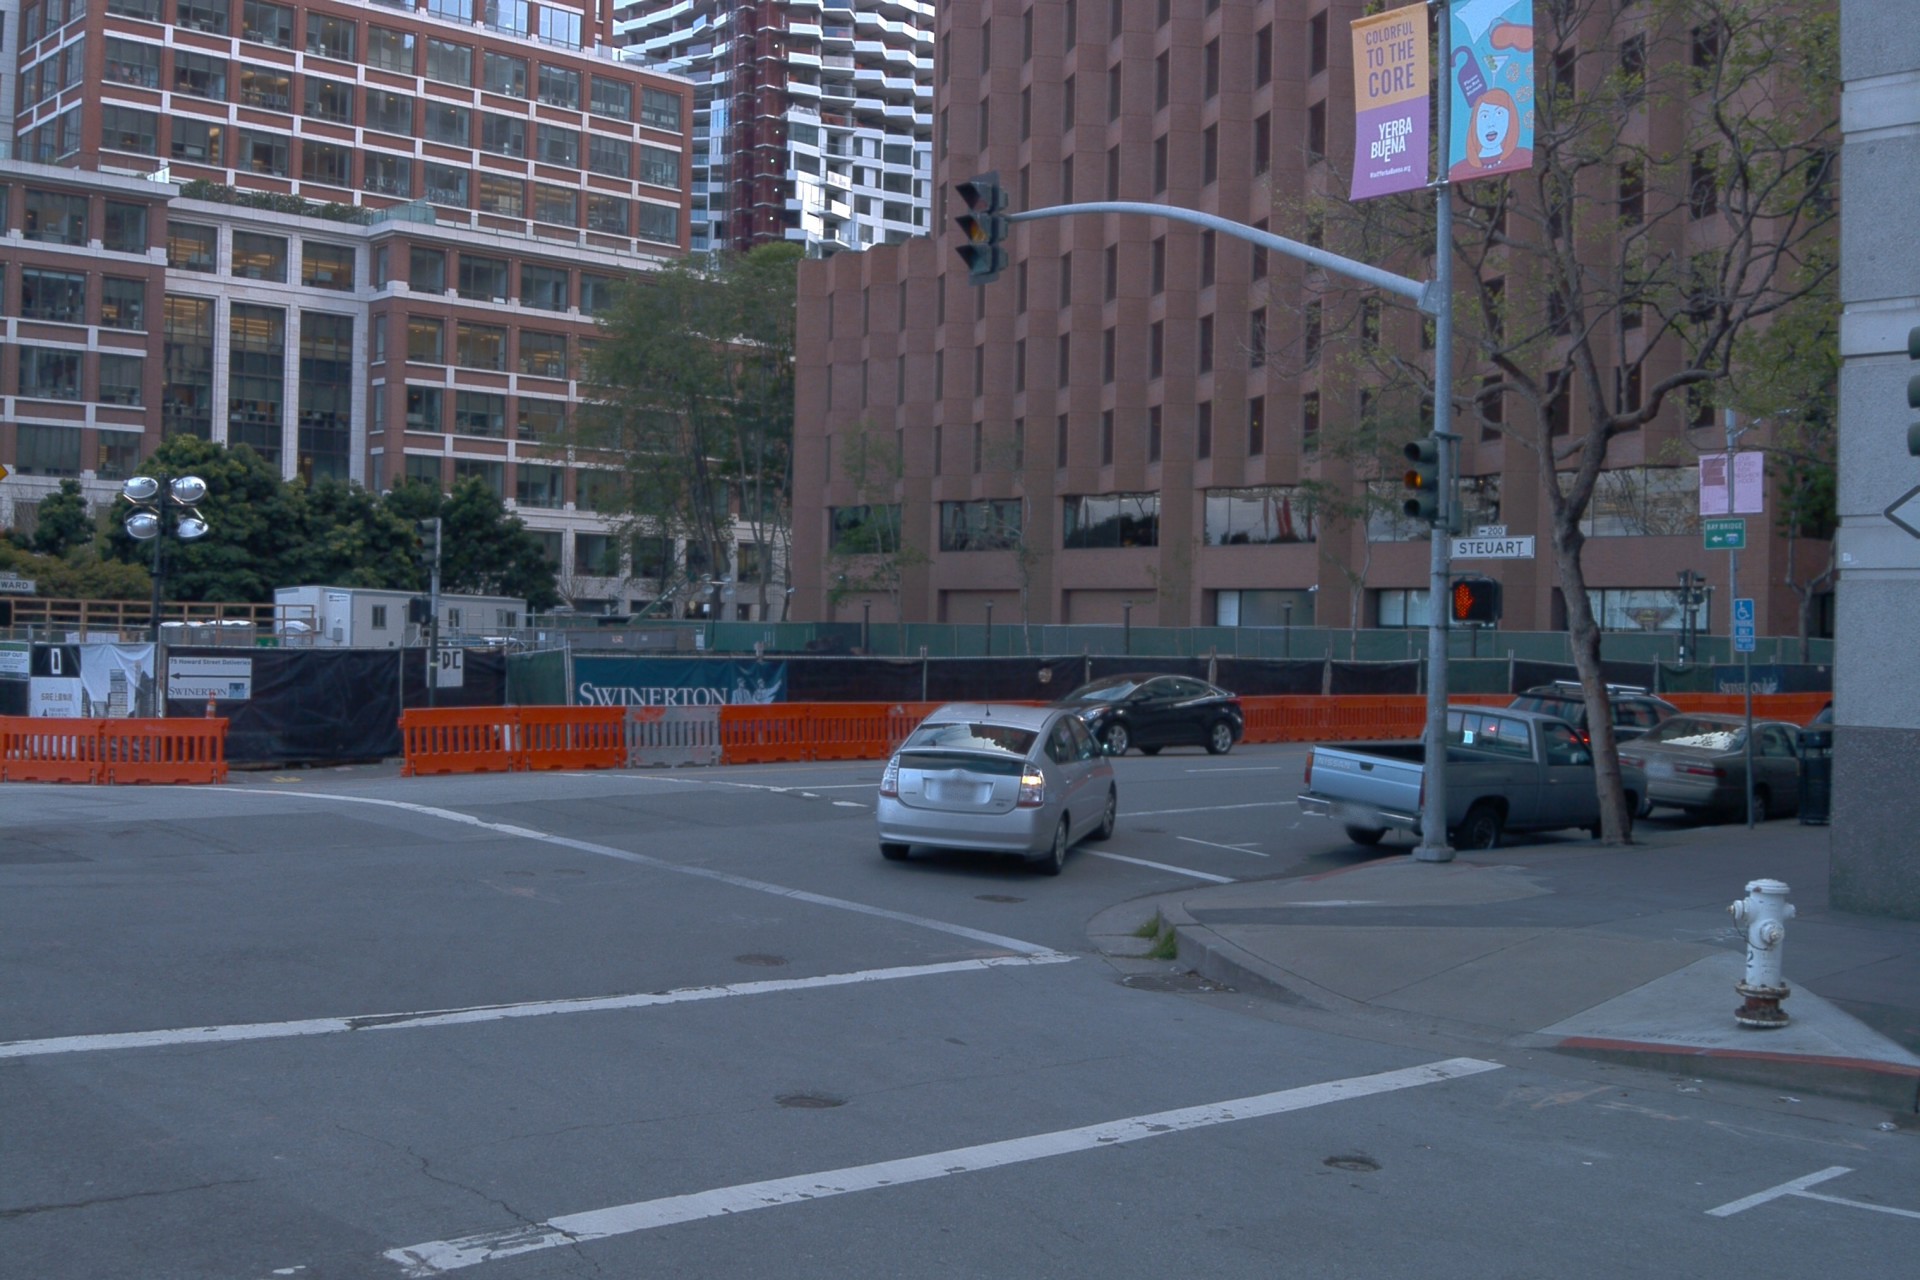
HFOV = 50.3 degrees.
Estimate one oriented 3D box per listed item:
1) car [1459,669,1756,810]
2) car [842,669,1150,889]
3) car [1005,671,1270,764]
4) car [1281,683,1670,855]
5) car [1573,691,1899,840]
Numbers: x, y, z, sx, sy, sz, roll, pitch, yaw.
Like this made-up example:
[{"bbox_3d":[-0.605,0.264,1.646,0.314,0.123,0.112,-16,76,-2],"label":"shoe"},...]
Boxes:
[{"bbox_3d":[9.129,1.326,28.708,4.208,1.760,2.035,0,0,-40],"label":"car"},{"bbox_3d":[0.496,1.251,20.256,2.019,1.820,4.420,1,0,15],"label":"car"},{"bbox_3d":[3.102,1.278,35.111,4.607,1.430,1.996,0,0,-44],"label":"car"},{"bbox_3d":[5.757,1.324,22.508,4.672,1.610,1.863,0,0,-42],"label":"car"},{"bbox_3d":[10.155,1.549,26.610,4.581,1.660,2.108,0,0,-42],"label":"car"}]
